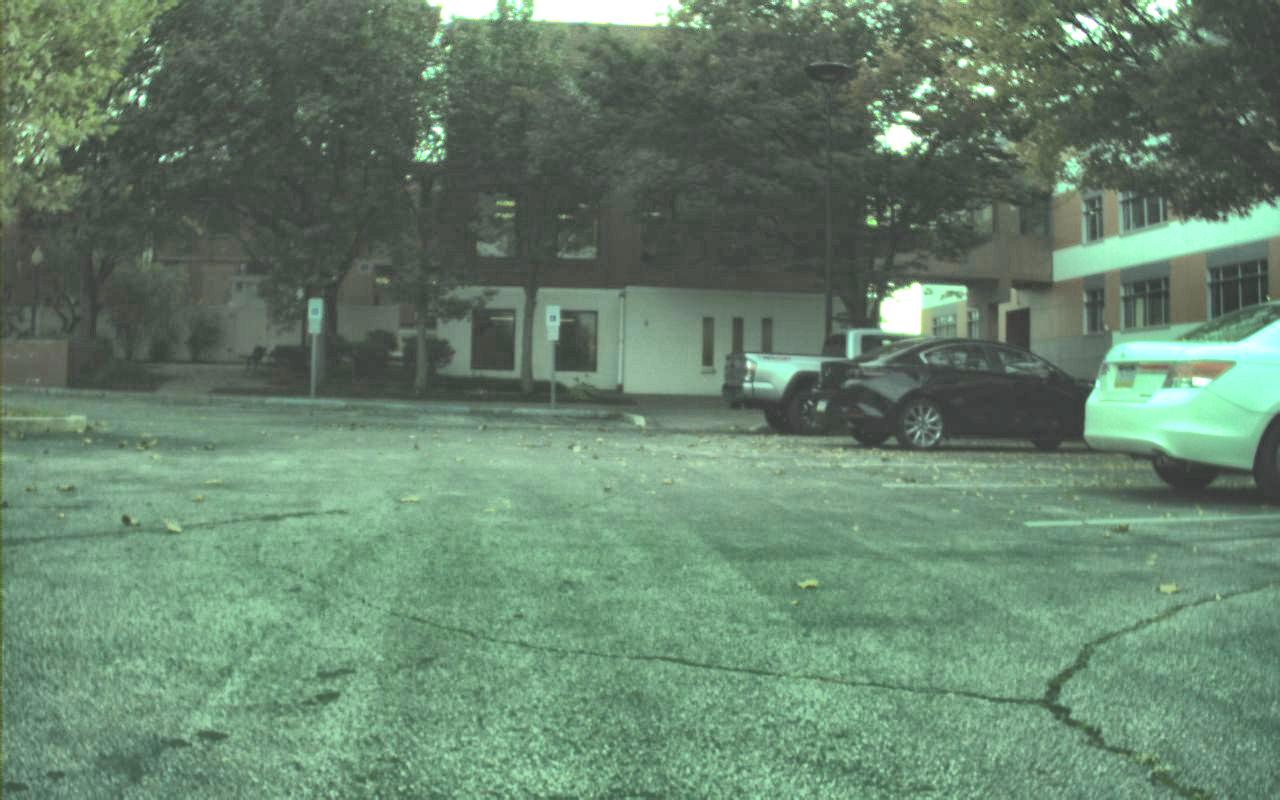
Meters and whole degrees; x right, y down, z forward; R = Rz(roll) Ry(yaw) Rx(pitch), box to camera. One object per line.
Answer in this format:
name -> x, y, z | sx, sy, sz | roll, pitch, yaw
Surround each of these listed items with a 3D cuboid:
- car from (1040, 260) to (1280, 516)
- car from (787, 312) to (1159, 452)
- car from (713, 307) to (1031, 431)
car -> 5.291, -0.074, 8.333 | 4.444, 1.549, 1.916 | 0, 1, -10
car -> 4.350, -0.224, 15.808 | 4.587, 1.599, 1.958 | 0, 1, -15
car -> 3.865, -0.500, 20.873 | 5.011, 1.917, 2.098 | 0, 1, -8
